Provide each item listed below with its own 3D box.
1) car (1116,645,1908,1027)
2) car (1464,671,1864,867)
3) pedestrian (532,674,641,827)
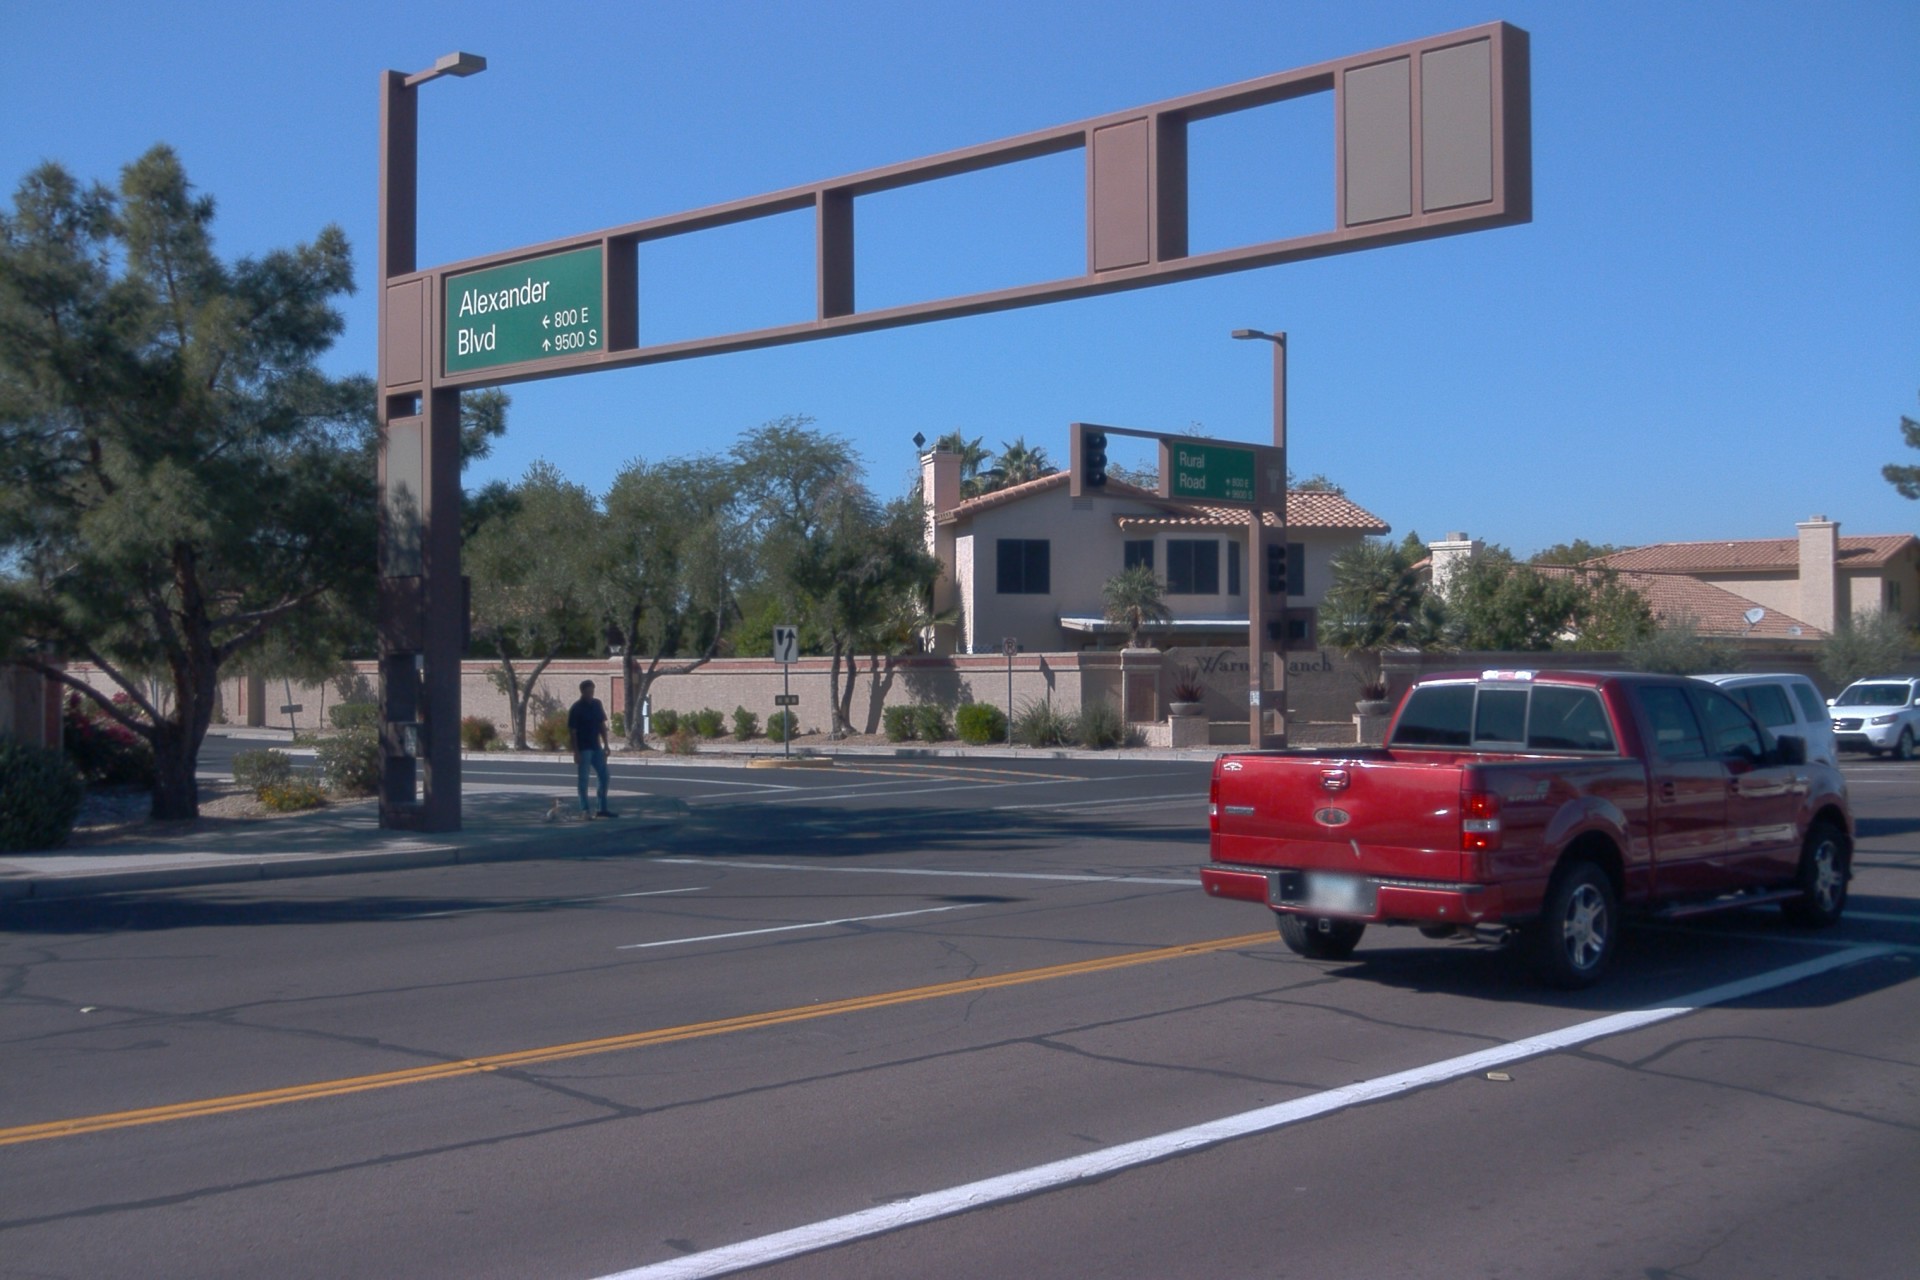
[{"bbox_3d":[3.915,1.056,13.894,2.571,1.980,5.819,1,0,44],"label":"car"},{"bbox_3d":[7.733,1.287,22.606,4.757,1.850,2.214,1,0,-45],"label":"car"},{"bbox_3d":[-4.911,1.430,27.377,1.004,1.940,0.996,1,0,-44],"label":"pedestrian"}]
